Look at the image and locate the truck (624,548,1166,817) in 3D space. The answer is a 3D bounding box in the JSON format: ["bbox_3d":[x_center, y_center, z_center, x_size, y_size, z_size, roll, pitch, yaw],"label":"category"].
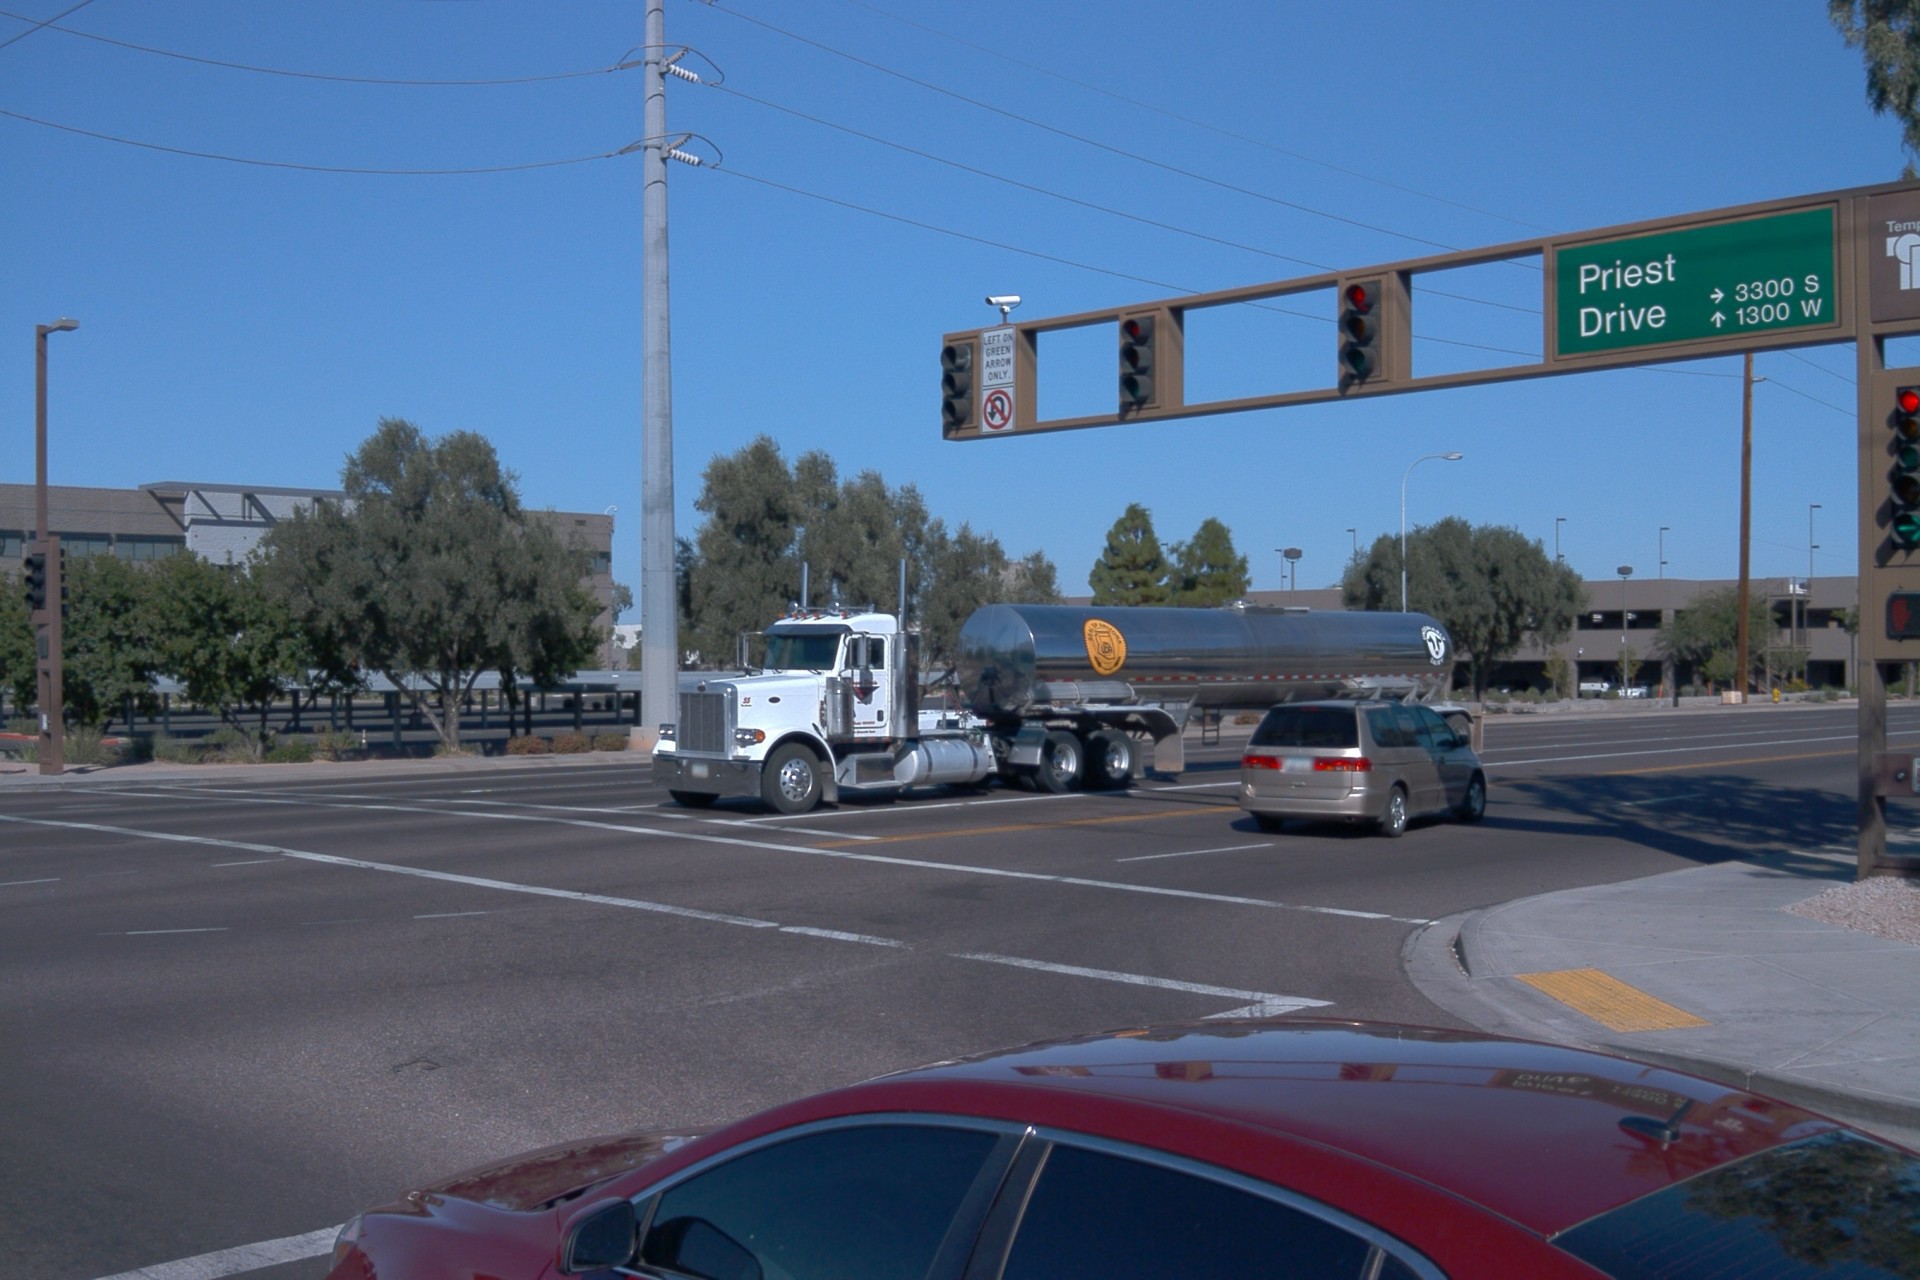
[{"bbox_3d":[-0.743,0.636,32.209,3.179,3.610,8.600,0,-1,44],"label":"truck"}]

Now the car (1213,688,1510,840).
[{"bbox_3d":[5.545,1.583,28.224,2.241,1.810,4.902,0,-1,34],"label":"car"}]

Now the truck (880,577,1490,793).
[{"bbox_3d":[4.665,0.787,38.310,3.541,3.330,13.563,0,-1,44],"label":"truck"}]
